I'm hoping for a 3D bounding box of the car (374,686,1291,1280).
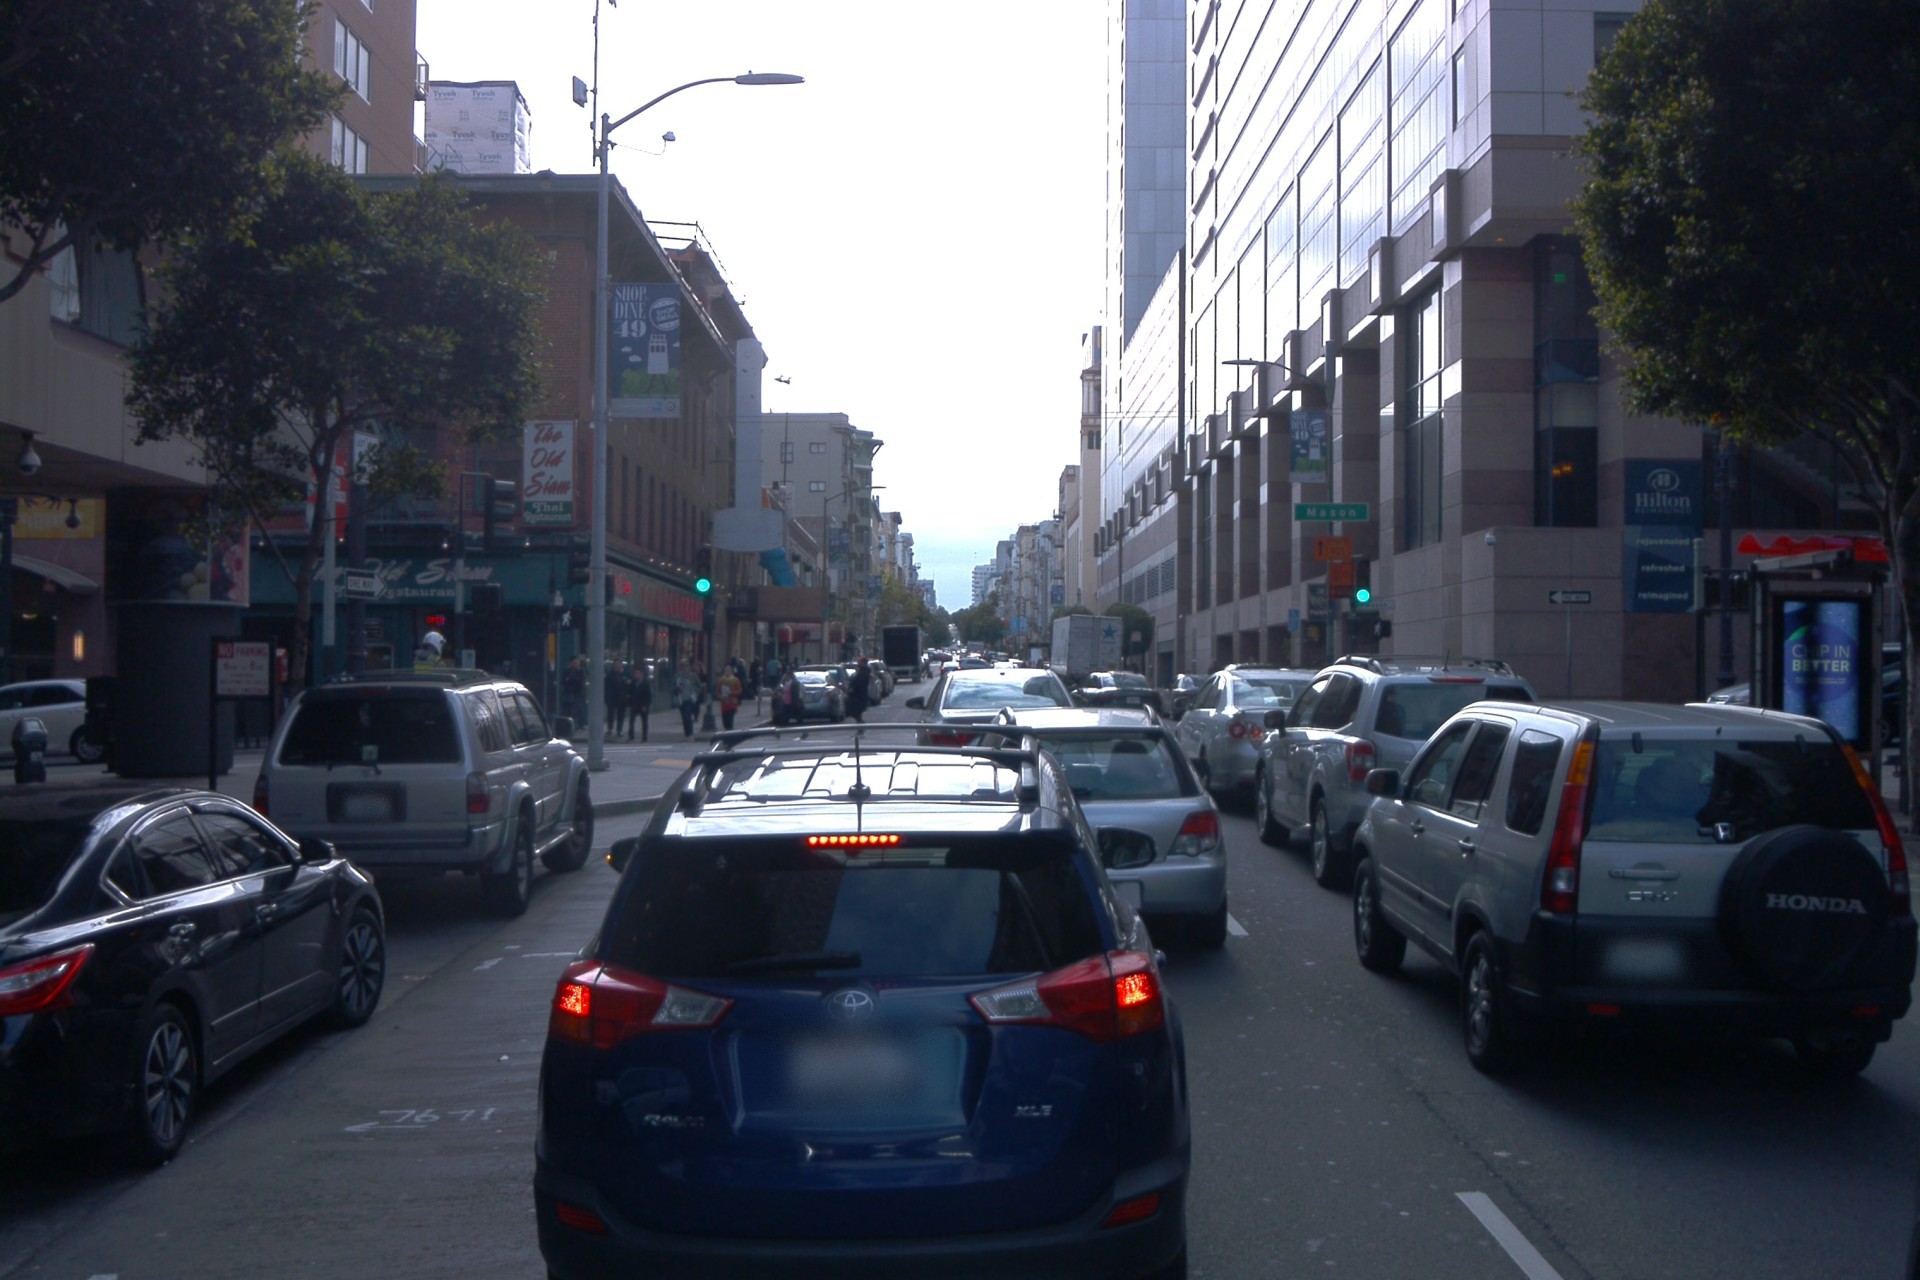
[{"bbox_3d":[-0.294,1.159,7.187,2.184,1.830,4.554,0,1,0],"label":"car"}]

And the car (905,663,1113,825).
[{"bbox_3d":[0.430,1.062,22.813,2.074,1.500,4.589,0,1,-1],"label":"car"}]

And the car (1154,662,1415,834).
[{"bbox_3d":[3.438,1.093,22.732,2.063,1.590,4.797,0,1,-1],"label":"car"}]

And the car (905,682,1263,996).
[{"bbox_3d":[0.756,1.181,14.040,2.030,1.630,4.708,0,1,1],"label":"car"}]

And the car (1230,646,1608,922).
[{"bbox_3d":[3.548,1.027,16.846,2.029,1.870,4.665,0,1,0],"label":"car"}]

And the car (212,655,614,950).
[{"bbox_3d":[-4.073,1.112,16.172,1.995,1.880,4.690,0,1,-1],"label":"car"}]

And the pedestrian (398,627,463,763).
[{"bbox_3d":[-7.433,0.768,28.874,0.706,1.880,0.661,0,1,4],"label":"pedestrian"}]
